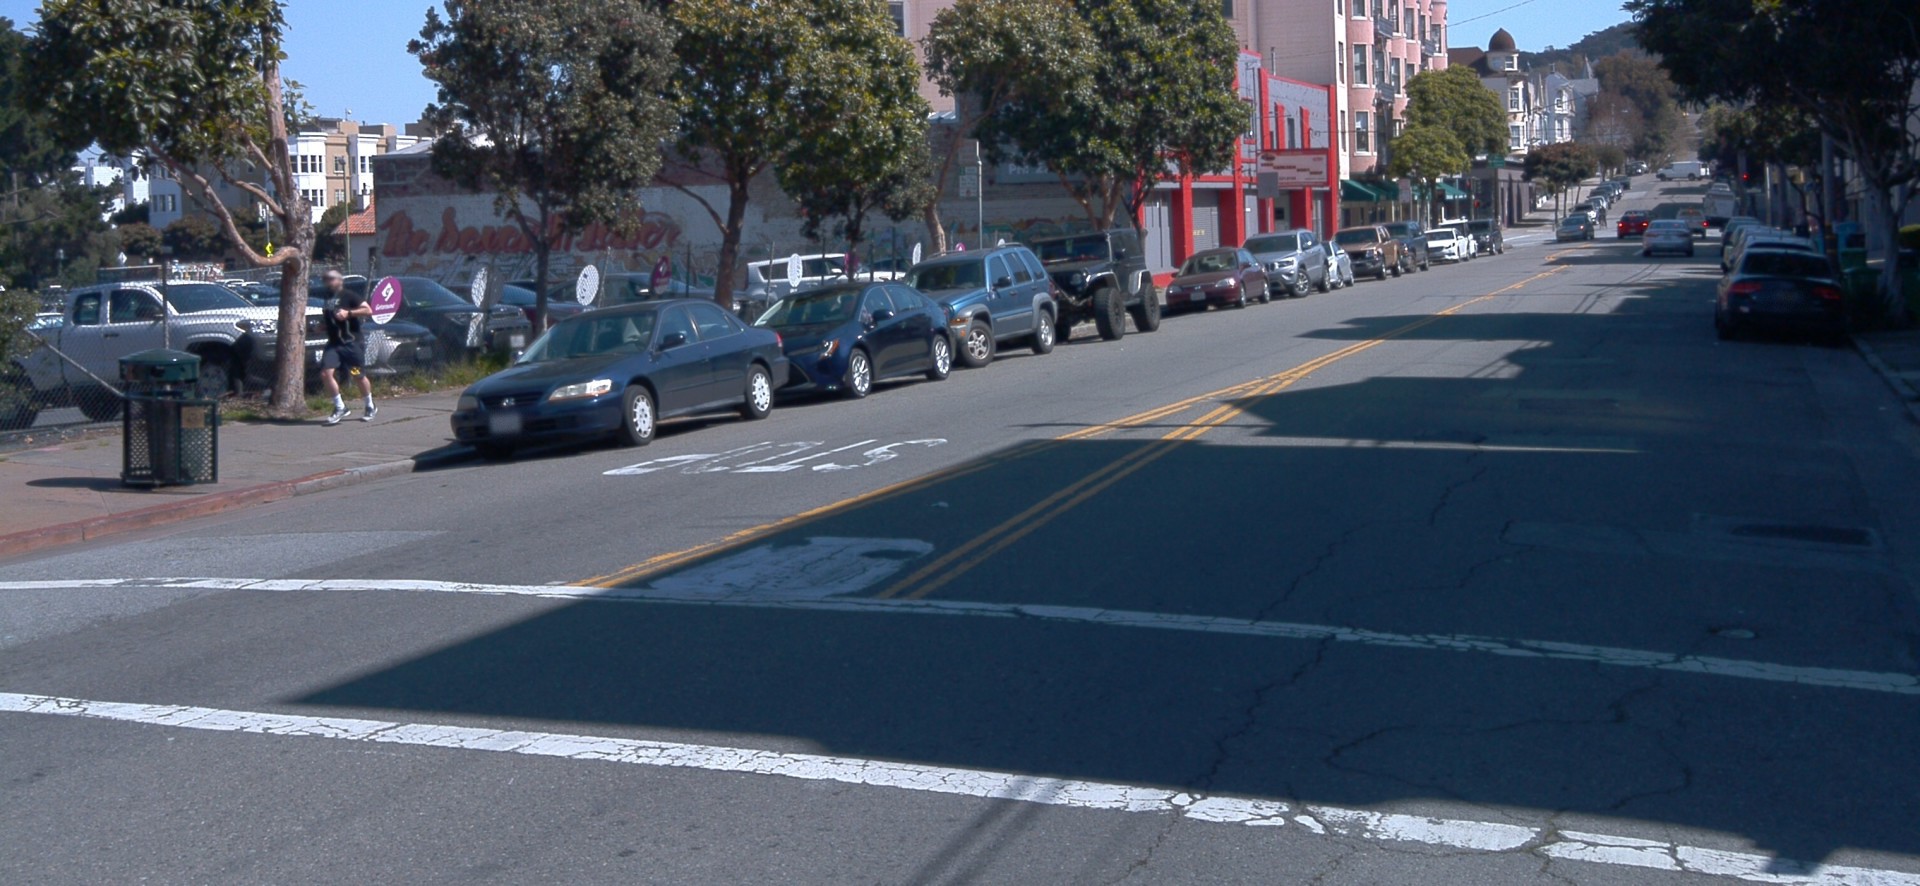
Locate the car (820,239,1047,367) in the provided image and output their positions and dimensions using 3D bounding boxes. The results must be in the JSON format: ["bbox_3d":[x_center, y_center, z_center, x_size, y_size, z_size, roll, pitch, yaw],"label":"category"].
[{"bbox_3d":[-0.319,-2.234,31.872,2.012,1.834,4.243,1,5,22],"label":"car"}]

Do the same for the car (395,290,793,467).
[{"bbox_3d":[-3.707,-0.800,21.972,2.008,1.524,4.898,1,5,20],"label":"car"}]

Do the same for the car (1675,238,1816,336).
[{"bbox_3d":[12.229,-2.498,32.257,1.933,1.415,4.478,1,5,20],"label":"car"}]

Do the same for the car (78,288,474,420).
[{"bbox_3d":[-9.615,-1.310,29.081,5.008,1.646,2.180,2,4,19],"label":"car"}]

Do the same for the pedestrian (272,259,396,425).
[{"bbox_3d":[-6.920,-1.142,22.842,0.826,1.769,1.065,0,2,22],"label":"pedestrian"}]

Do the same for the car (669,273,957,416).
[{"bbox_3d":[-1.772,-1.356,26.630,1.947,1.584,4.587,1,5,21],"label":"car"}]

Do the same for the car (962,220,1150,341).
[{"bbox_3d":[1.785,-2.945,36.850,2.079,2.004,4.401,1,5,21],"label":"car"}]
